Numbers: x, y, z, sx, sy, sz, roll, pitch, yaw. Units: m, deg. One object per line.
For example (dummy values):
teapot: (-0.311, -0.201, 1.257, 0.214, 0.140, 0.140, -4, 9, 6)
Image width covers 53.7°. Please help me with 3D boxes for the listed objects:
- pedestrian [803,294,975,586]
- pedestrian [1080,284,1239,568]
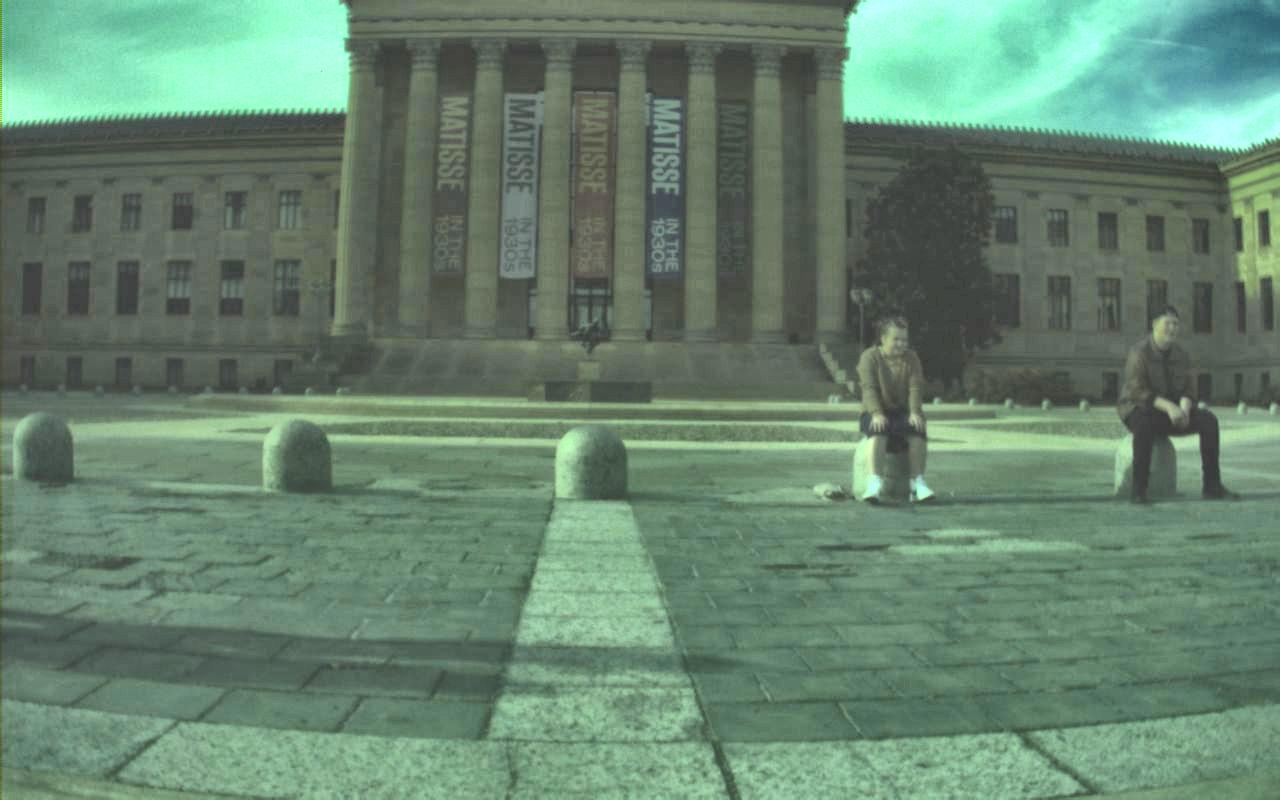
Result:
pedestrian: (1.580, 0.235, 7.939, 0.810, 1.752, 0.813, 0, 0, -16)
pedestrian: (3.487, 0.174, 7.884, 0.840, 1.798, 0.841, 0, 0, 0)
